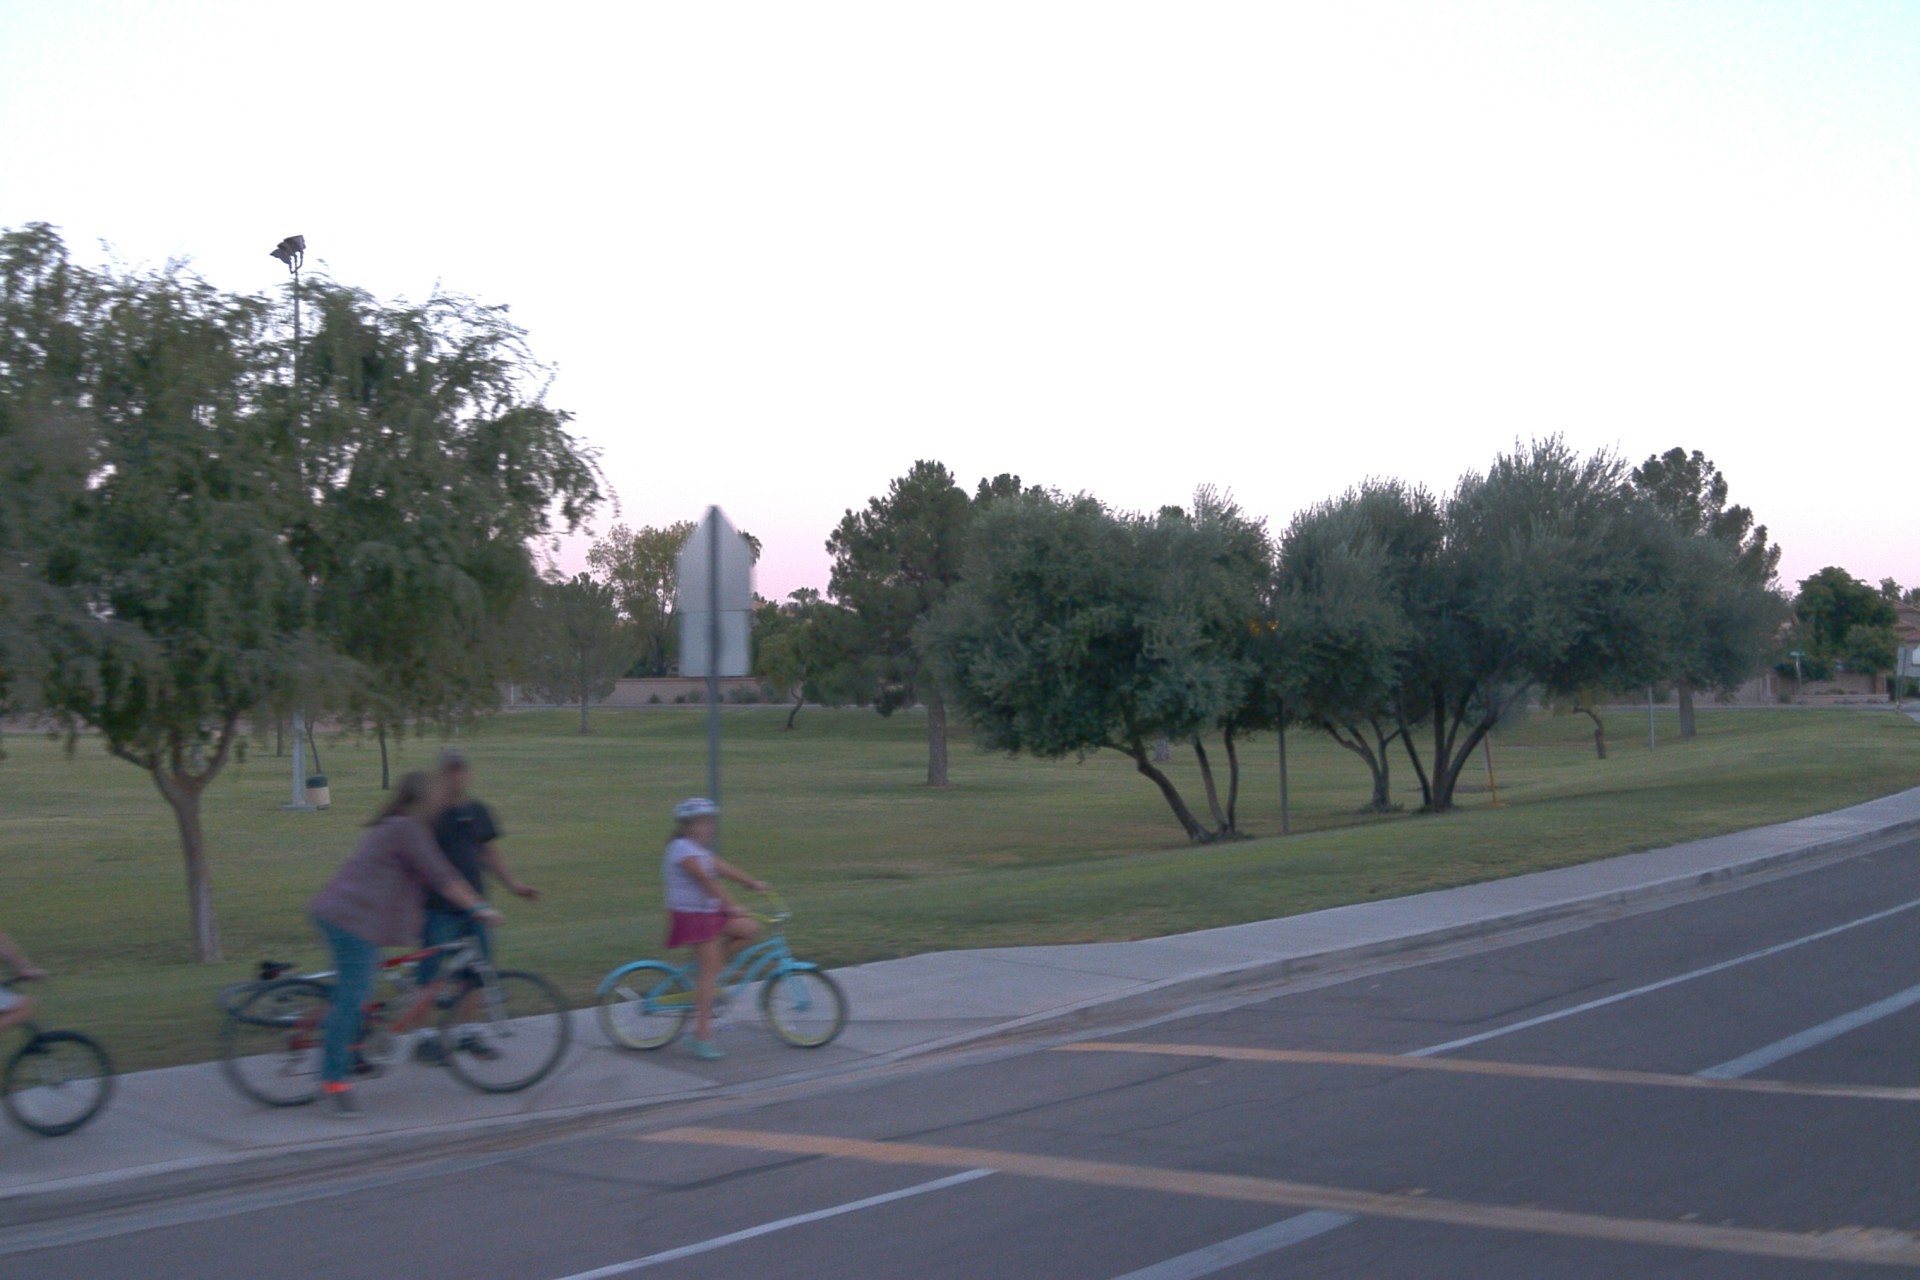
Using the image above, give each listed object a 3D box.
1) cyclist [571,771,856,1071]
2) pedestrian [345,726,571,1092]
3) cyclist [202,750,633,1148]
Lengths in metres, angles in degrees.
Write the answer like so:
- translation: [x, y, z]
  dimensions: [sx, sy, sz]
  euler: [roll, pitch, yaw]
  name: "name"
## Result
- translation: [-1.399, 1.594, 12.080]
  dimensions: [1.577, 1.630, 0.727]
  euler: [0, 0, -4]
  name: "cyclist"
- translation: [-2.739, 1.416, 11.405]
  dimensions: [0.887, 1.840, 0.835]
  euler: [1, 0, -43]
  name: "pedestrian"
- translation: [-2.711, 1.473, 10.461]
  dimensions: [1.965, 1.770, 0.805]
  euler: [0, 0, -26]
  name: "cyclist"
